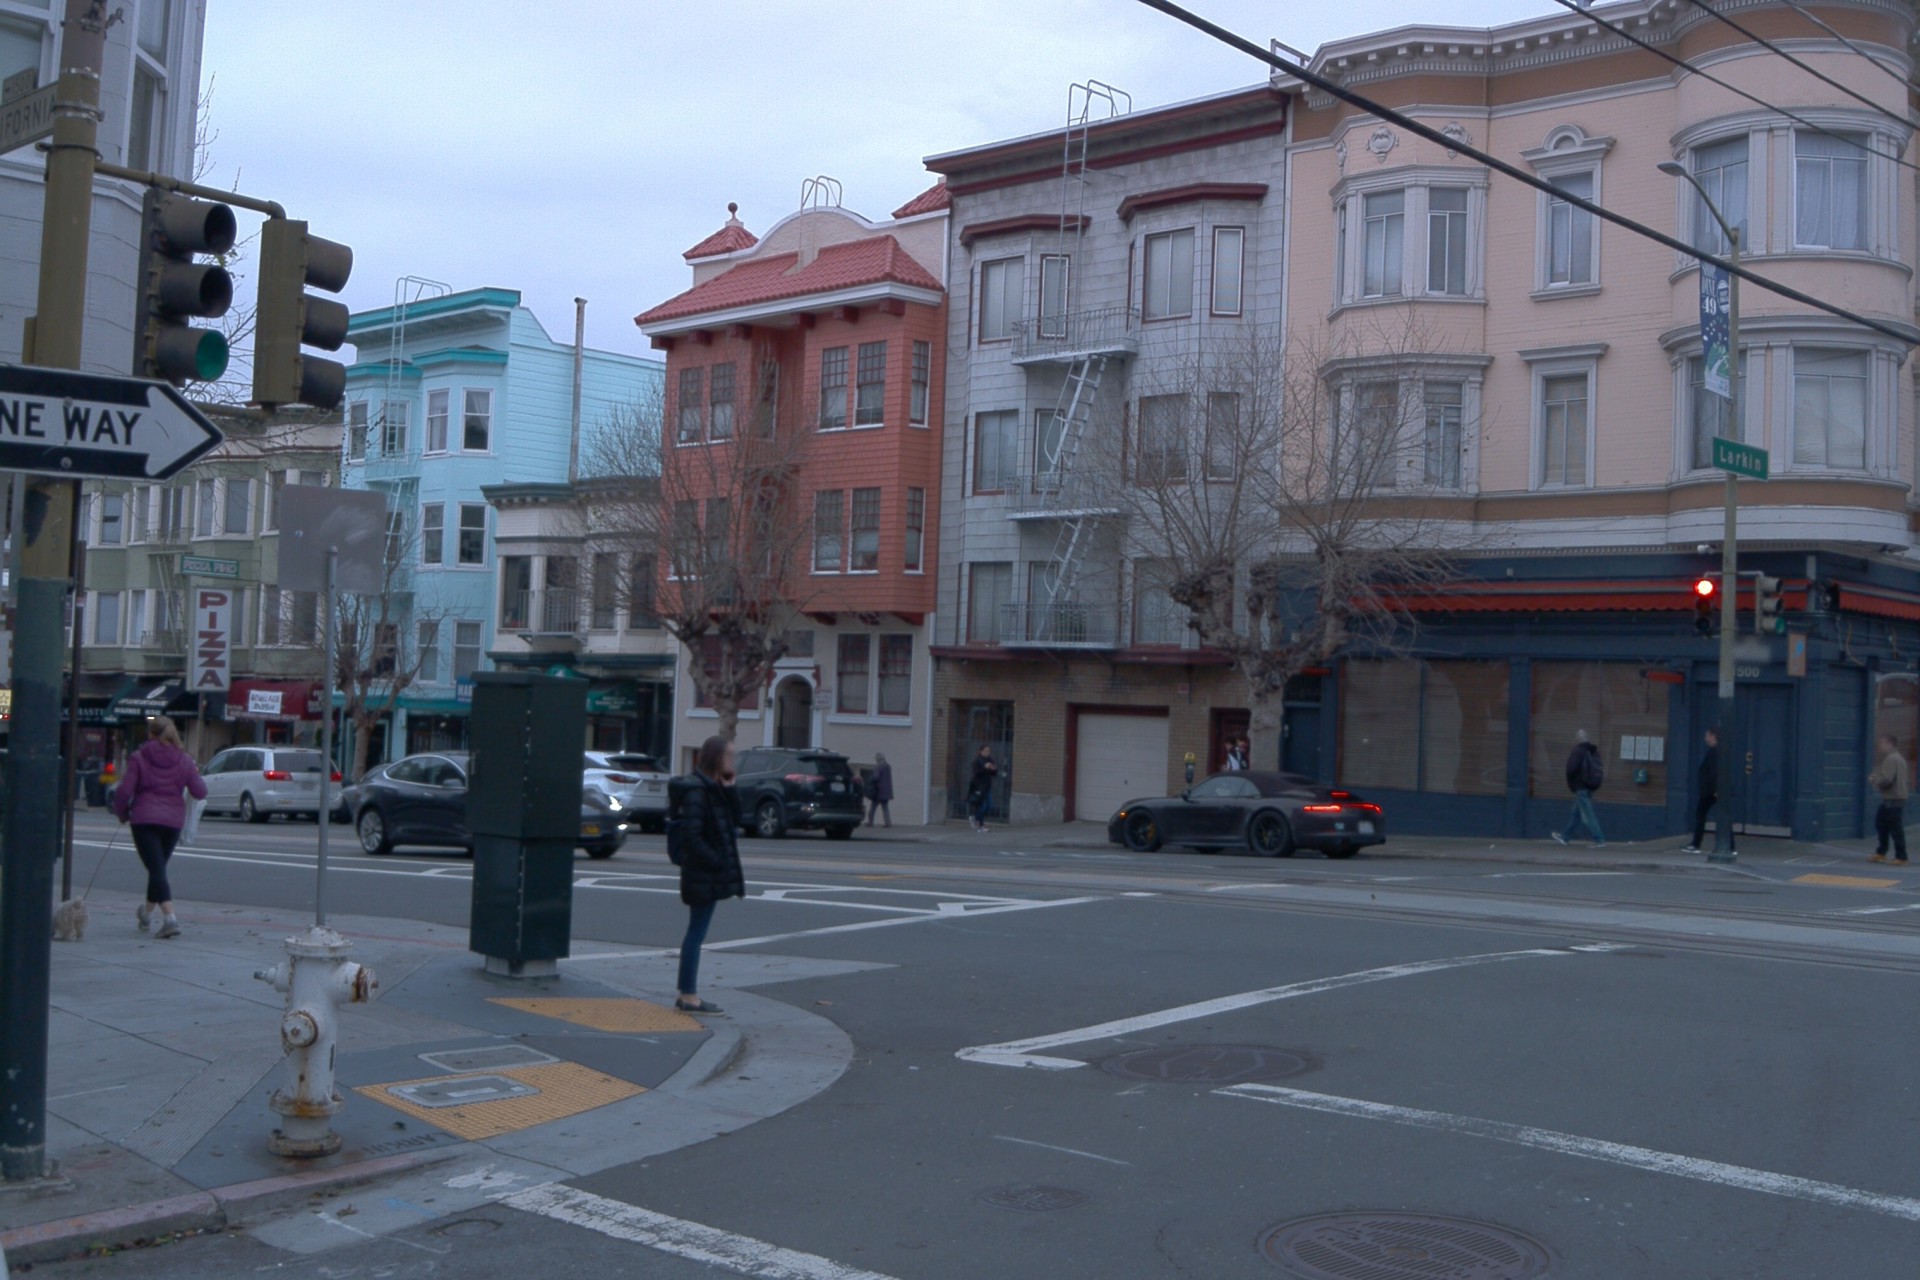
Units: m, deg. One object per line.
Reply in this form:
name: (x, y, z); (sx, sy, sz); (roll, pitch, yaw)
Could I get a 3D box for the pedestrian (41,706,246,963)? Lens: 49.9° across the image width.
pedestrian: (-5.731, 1.317, 14.471); (0.944, 1.640, 1.180); (-1, 1, -44)

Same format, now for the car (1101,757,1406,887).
car: (4.280, 2.627, 30.588); (1.947, 1.460, 4.186); (-1, 1, -43)

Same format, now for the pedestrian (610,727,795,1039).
pedestrian: (-1.515, 1.392, 12.138); (0.846, 1.692, 0.707); (-1, 1, -35)

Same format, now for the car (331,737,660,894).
car: (-6.356, 2.283, 27.912); (4.698, 1.630, 2.074); (1, 1, 44)

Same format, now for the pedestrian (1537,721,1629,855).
pedestrian: (9.462, 2.228, 31.375); (1.100, 1.930, 0.772); (1, 1, 44)

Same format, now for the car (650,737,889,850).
car: (-3.624, 2.829, 38.769); (4.423, 1.700, 2.100); (1, 1, 44)

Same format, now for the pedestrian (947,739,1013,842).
pedestrian: (0.376, 2.782, 38.381); (0.938, 1.800, 0.779); (1, 1, 43)

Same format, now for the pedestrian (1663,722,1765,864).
pedestrian: (10.752, 2.159, 29.441); (1.080, 1.913, 0.903); (1, 1, 44)
